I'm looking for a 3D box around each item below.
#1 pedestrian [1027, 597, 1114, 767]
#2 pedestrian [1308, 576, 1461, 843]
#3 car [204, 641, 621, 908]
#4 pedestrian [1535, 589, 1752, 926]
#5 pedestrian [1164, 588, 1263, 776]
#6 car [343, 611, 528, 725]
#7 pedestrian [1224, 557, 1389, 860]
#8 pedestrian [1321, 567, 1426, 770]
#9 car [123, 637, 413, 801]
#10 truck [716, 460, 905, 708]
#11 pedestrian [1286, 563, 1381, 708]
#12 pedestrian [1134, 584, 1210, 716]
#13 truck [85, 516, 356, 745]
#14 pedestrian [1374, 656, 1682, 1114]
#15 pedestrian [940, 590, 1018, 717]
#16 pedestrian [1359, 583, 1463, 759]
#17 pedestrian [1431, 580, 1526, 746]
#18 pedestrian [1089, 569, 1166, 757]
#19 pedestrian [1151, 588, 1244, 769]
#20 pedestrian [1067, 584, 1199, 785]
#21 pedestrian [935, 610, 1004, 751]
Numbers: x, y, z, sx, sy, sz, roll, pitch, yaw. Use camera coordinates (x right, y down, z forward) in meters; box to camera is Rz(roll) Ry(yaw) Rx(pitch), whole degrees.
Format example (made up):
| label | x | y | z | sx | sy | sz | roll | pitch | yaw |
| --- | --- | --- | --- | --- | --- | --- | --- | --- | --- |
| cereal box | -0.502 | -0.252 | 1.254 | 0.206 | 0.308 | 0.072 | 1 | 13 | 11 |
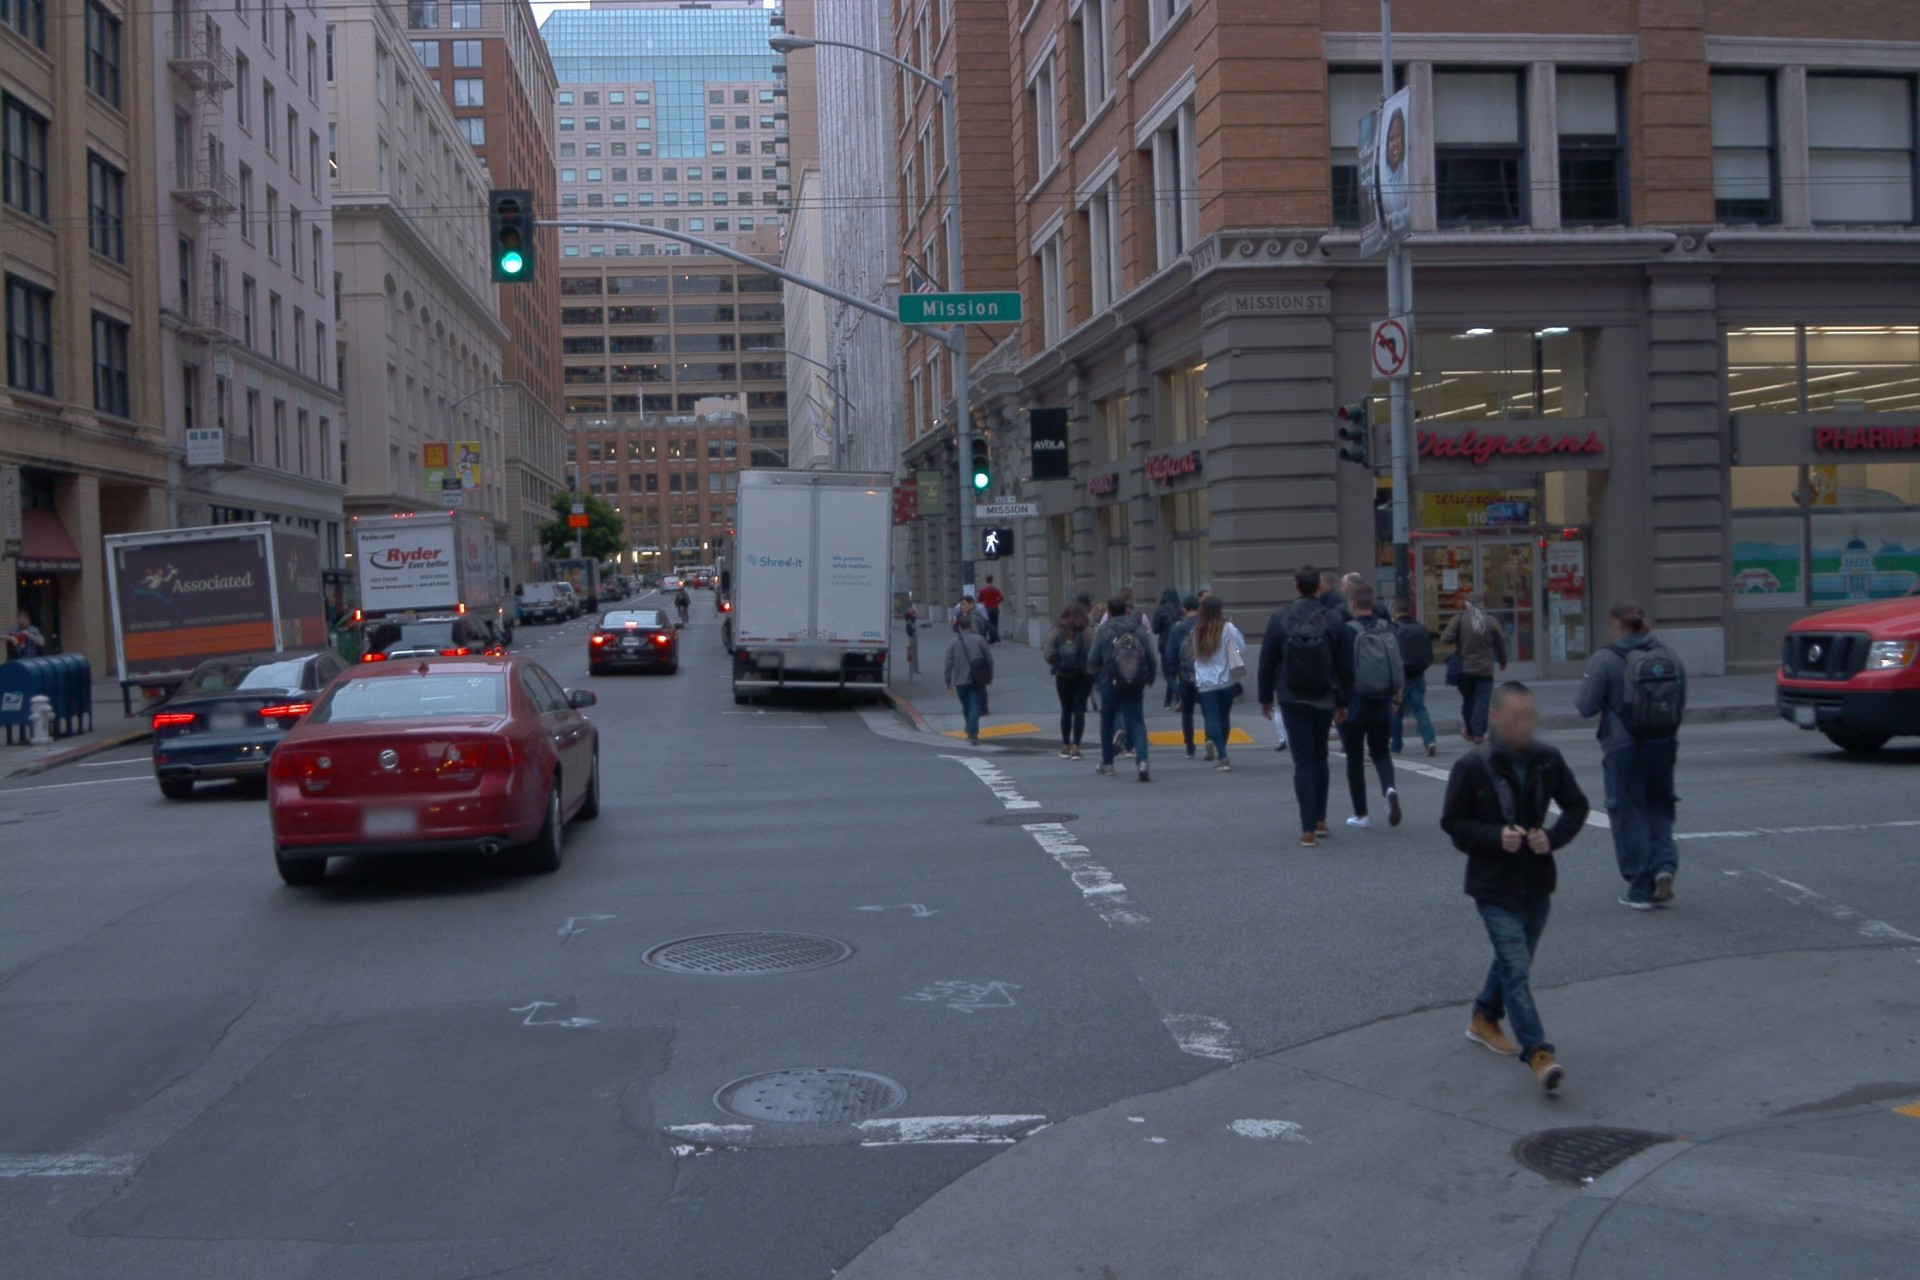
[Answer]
| label | x | y | z | sx | sy | sz | roll | pitch | yaw |
| --- | --- | --- | --- | --- | --- | --- | --- | --- | --- |
| pedestrian | 1.158 | 0.424 | 21.795 | 0.708 | 1.740 | 1.112 | 0 | 1 | -8 |
| pedestrian | 2.999 | 0.472 | 14.608 | 0.816 | 1.830 | 0.943 | 0 | 1 | -5 |
| car | -3.821 | 0.831 | 15.386 | 2.139 | 1.550 | 5.236 | 0 | 1 | -5 |
| pedestrian | 3.823 | 0.618 | 11.594 | 0.785 | 1.800 | 1.148 | 0 | 1 | -3 |
| pedestrian | 2.395 | 0.378 | 19.501 | 0.722 | 1.730 | 0.990 | 0 | 1 | -6 |
| car | -8.340 | 0.381 | 33.111 | 2.134 | 1.690 | 4.735 | 0 | 1 | -5 |
| pedestrian | 2.336 | 0.440 | 14.008 | 0.919 | 1.980 | 1.153 | 0 | 1 | 0 |
| pedestrian | 3.940 | 0.261 | 19.634 | 0.859 | 1.900 | 0.873 | 0 | 1 | 3 |
| car | -7.125 | 0.742 | 21.657 | 1.889 | 1.470 | 4.429 | 0 | 1 | -5 |
| truck | -2.750 | -0.931 | 35.454 | 2.836 | 3.790 | 7.822 | 0 | 1 | -7 |
| pedestrian | 4.970 | -0.064 | 27.405 | 1.129 | 1.890 | 0.856 | 0 | 1 | 2 |
| pedestrian | 2.883 | 0.127 | 28.003 | 0.800 | 1.760 | 0.887 | 0 | 1 | -11 |
| truck | -11.895 | -0.205 | 33.714 | 3.011 | 3.380 | 6.430 | 0 | 1 | -9 |
| pedestrian | 2.382 | 0.967 | 8.710 | 0.711 | 1.770 | 1.081 | -1 | 1 | -26 |
| pedestrian | 0.271 | 0.187 | 28.977 | 0.952 | 1.760 | 0.757 | 0 | 1 | 13 |
| pedestrian | 4.571 | 0.299 | 20.899 | 0.701 | 1.740 | 0.968 | 0 | 1 | -10 |
| pedestrian | 5.811 | 0.246 | 23.086 | 0.861 | 1.830 | 0.883 | 0 | 1 | 3 |
| pedestrian | 1.788 | 0.230 | 21.857 | 0.666 | 1.950 | 1.093 | 0 | 1 | 13 |
| pedestrian | 2.400 | 0.376 | 20.872 | 0.762 | 1.790 | 0.987 | 0 | 1 | -4 |
| pedestrian | 1.581 | 0.383 | 18.961 | 0.910 | 1.790 | 1.174 | 0 | 1 | -11 |
| pedestrian | 0.112 | 0.502 | 26.400 | 0.779 | 1.760 | 1.028 | 0 | 1 | -5 |
